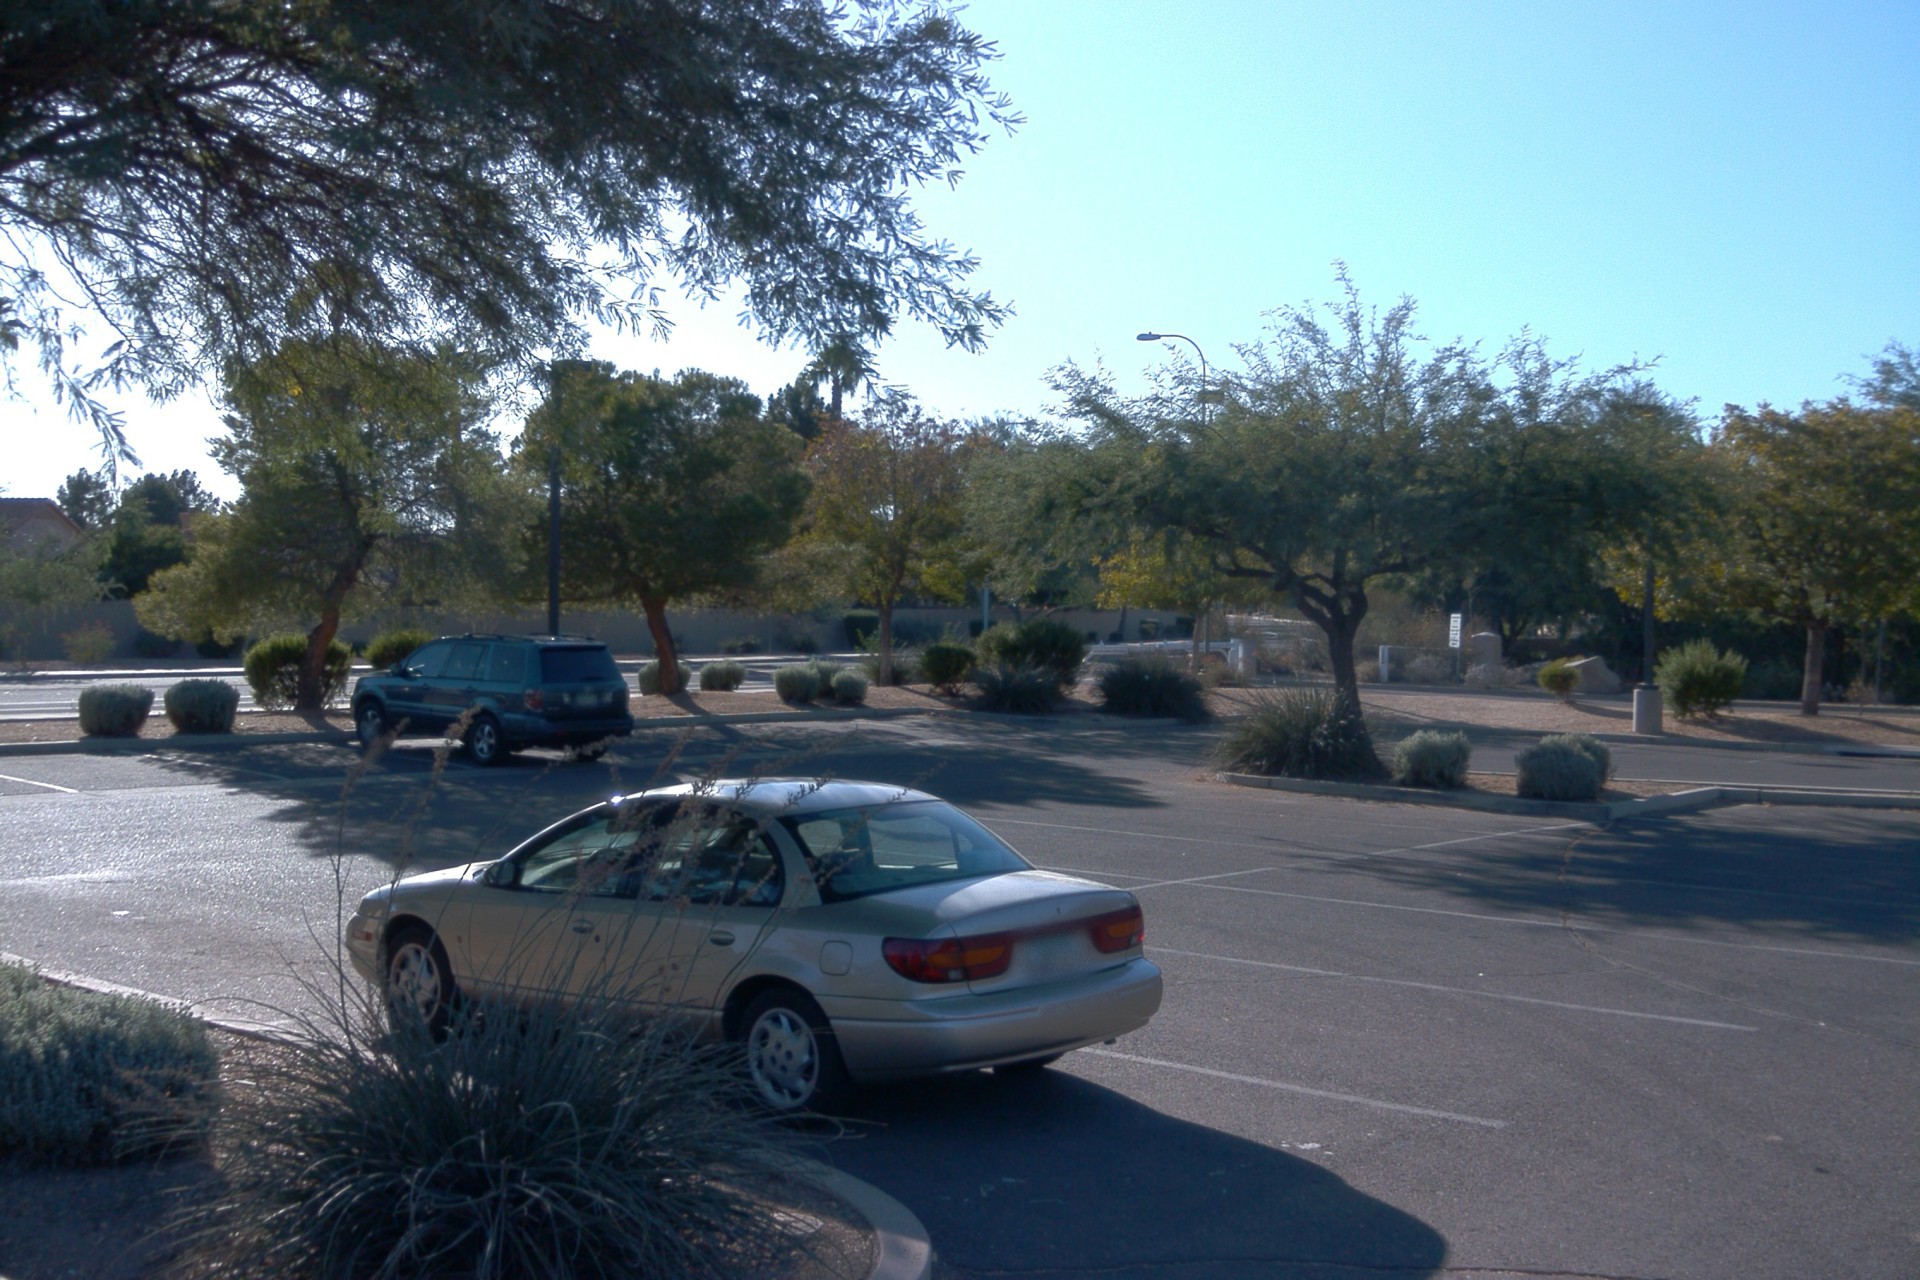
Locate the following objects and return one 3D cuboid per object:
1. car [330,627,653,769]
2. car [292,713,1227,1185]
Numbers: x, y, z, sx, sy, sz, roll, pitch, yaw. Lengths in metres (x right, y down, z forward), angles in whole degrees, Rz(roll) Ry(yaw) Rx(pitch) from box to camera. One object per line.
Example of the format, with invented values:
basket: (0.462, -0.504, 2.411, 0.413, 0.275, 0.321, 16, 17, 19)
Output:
car: (-6.751, 0.763, 29.753, 4.648, 1.850, 2.107, 1, 0, 40)
car: (-1.142, 1.240, 10.056, 4.490, 1.604, 1.956, 1, 0, 42)
